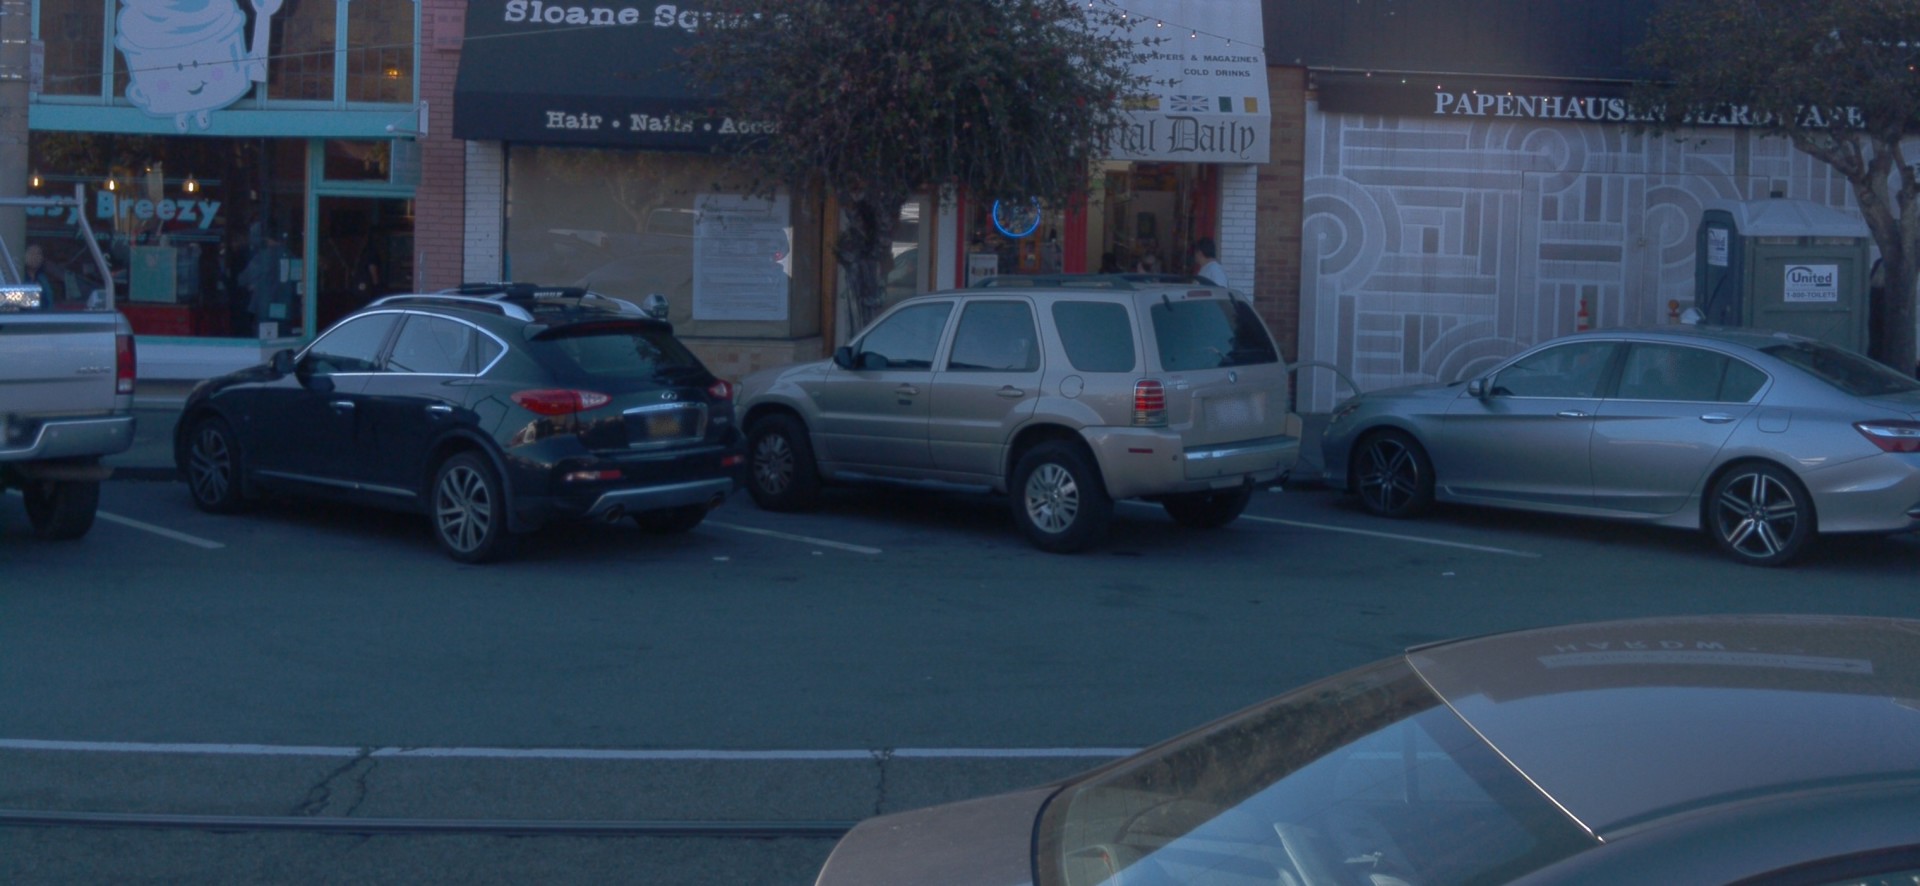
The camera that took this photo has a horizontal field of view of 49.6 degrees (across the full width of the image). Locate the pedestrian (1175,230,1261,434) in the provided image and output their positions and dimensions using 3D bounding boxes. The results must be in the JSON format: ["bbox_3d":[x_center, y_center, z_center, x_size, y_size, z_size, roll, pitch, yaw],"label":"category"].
[{"bbox_3d":[2.386,-1.054,19.274,0.729,1.816,0.925,1,2,5],"label":"pedestrian"}]

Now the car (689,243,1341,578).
[{"bbox_3d":[0.280,-0.402,14.595,4.242,1.893,2.078,6,6,42],"label":"car"}]

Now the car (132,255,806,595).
[{"bbox_3d":[-3.426,-0.303,14.053,4.523,1.793,2.116,6,6,39],"label":"car"}]
